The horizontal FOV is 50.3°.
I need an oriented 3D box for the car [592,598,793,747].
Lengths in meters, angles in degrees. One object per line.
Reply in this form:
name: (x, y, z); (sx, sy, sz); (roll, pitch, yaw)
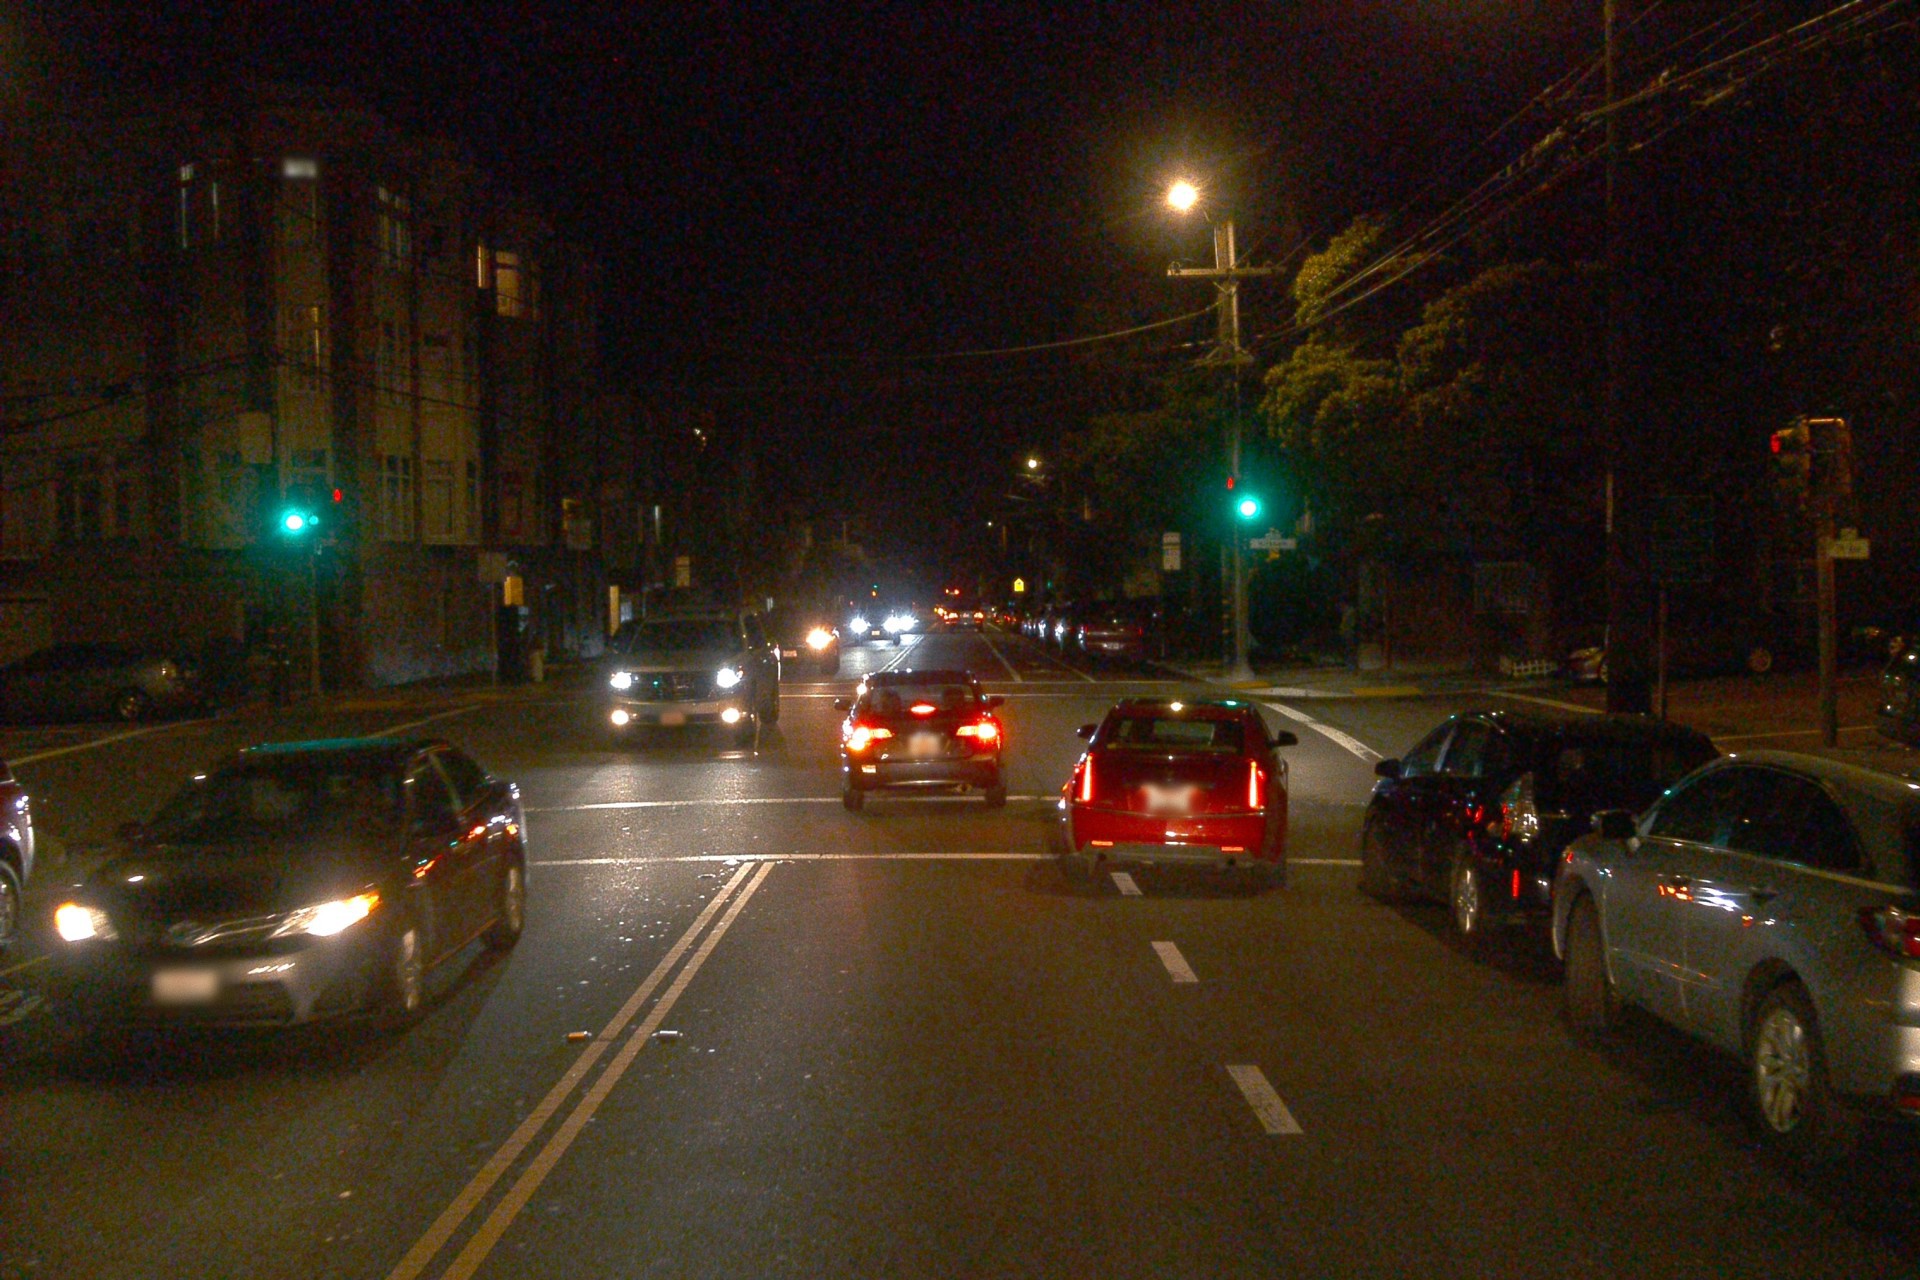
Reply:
car: (-3.891, 0.434, 30.769); (2.281, 2.020, 5.508); (1, 0, 0)

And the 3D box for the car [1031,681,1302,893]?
car: (1.929, 1.170, 17.944); (2.069, 1.490, 4.415); (1, 0, 9)

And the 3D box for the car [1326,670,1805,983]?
car: (4.166, 1.189, 14.971); (2.084, 1.830, 4.587); (1, 0, -1)

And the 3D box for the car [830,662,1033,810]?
car: (-0.414, 1.009, 23.216); (2.070, 1.420, 4.589); (0, 0, -3)
